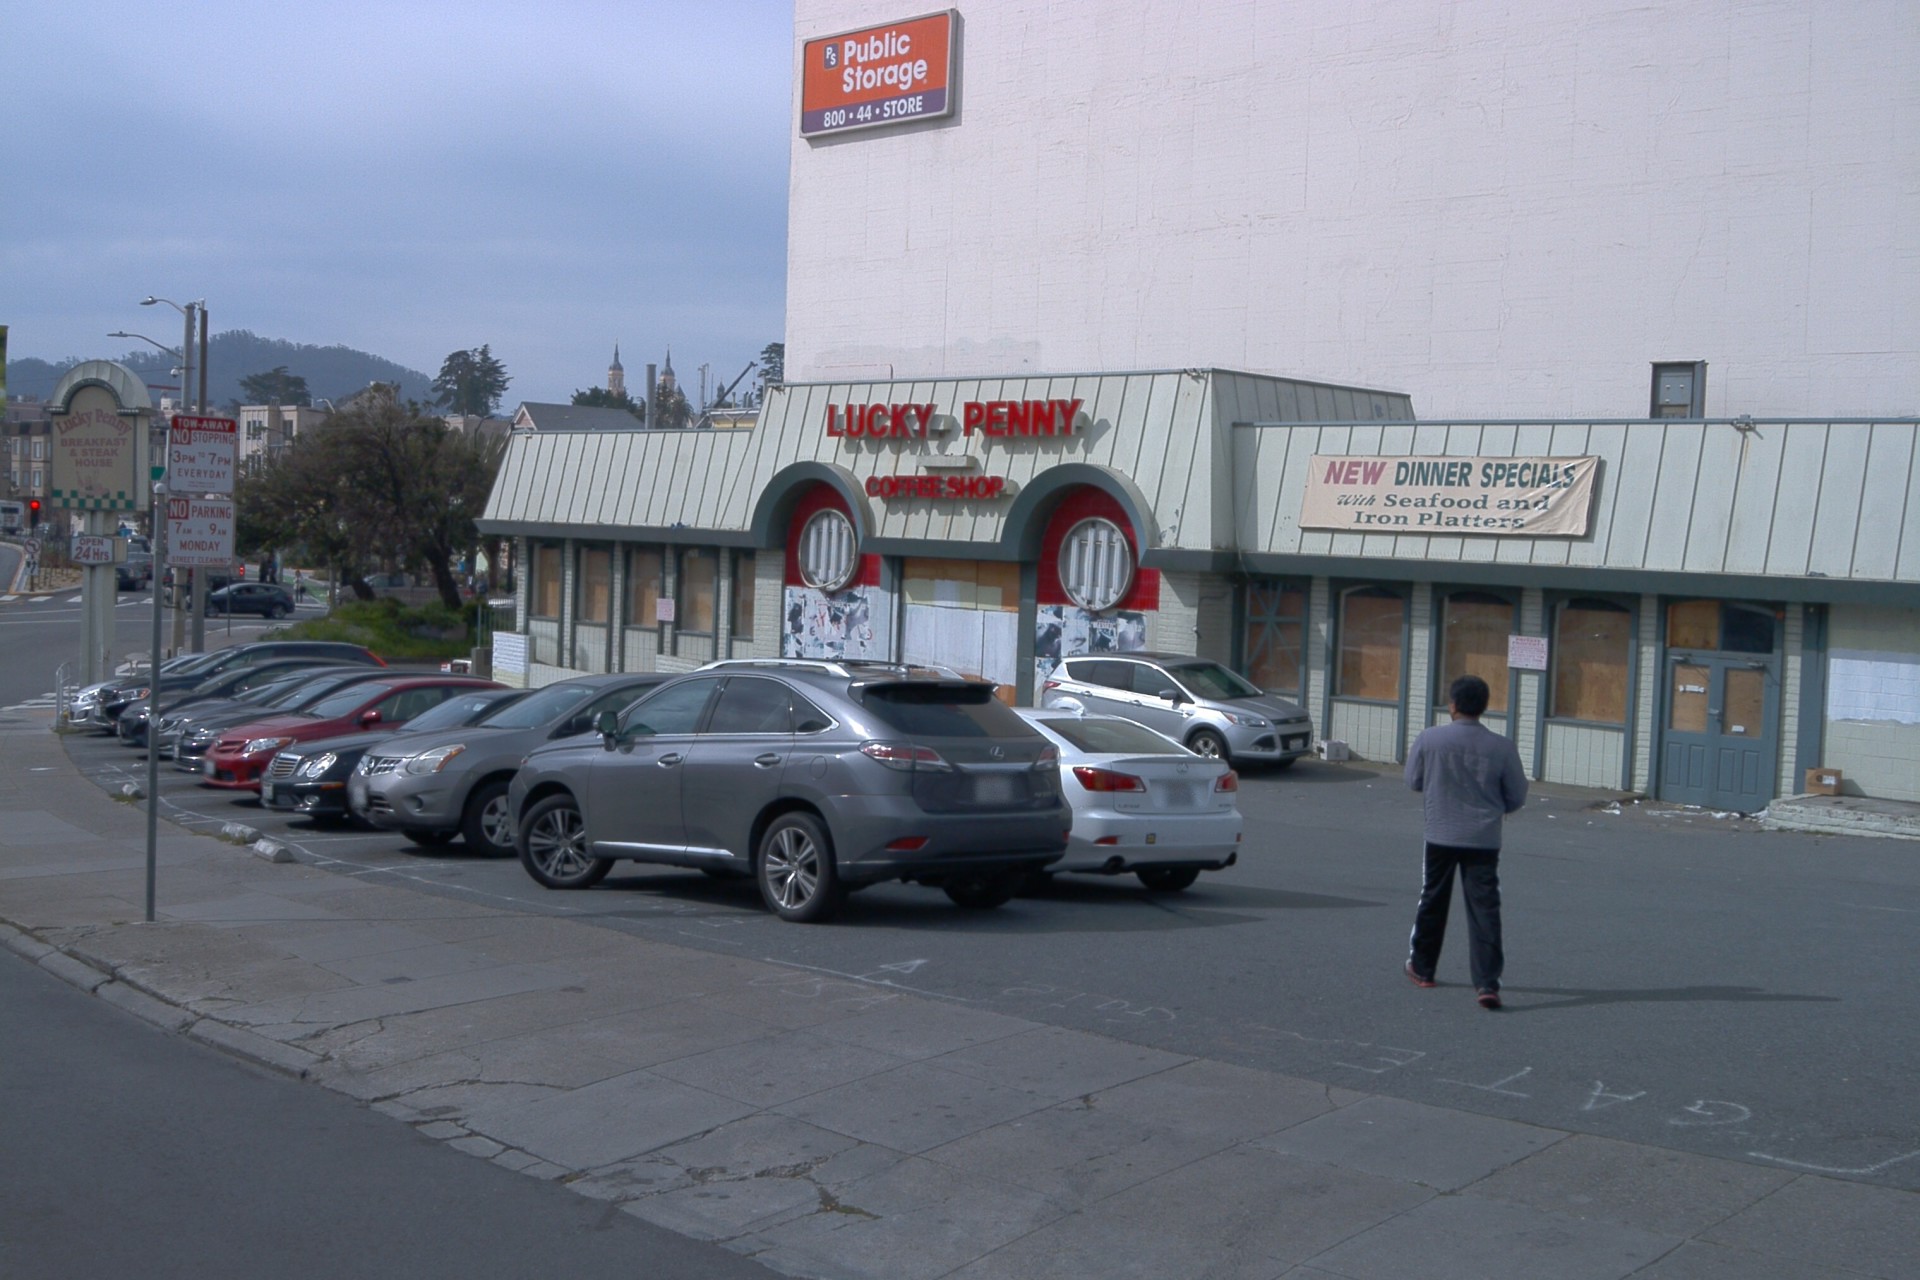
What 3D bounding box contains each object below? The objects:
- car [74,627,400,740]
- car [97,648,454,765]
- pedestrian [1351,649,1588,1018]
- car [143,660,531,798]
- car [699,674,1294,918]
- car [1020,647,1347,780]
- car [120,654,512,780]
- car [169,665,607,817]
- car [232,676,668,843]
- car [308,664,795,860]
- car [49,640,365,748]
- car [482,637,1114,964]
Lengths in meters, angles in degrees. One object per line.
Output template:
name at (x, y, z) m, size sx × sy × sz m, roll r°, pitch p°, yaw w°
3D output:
car at (-11.716, 0.661, 33.334) m, size 4.561 × 1.710 × 2.059 m, roll 0°, pitch 0°, yaw -43°
car at (-10.336, 0.949, 31.104) m, size 4.651 × 1.610 × 2.192 m, roll 0°, pitch 0°, yaw -43°
pedestrian at (2.542, 0.929, 10.341) m, size 0.943 × 1.744 × 1.076 m, roll 1°, pitch 0°, yaw 2°
car at (-7.972, 1.072, 26.410) m, size 4.343 × 1.580 × 1.994 m, roll 0°, pitch 0°, yaw -43°
car at (0.159, 1.128, 16.691) m, size 2.088 × 1.580 × 4.738 m, roll 0°, pitch 0°, yaw -44°
car at (3.289, 1.031, 30.718) m, size 2.134 × 1.790 × 4.557 m, roll 0°, pitch 0°, yaw -44°
car at (-8.982, 1.004, 28.781) m, size 4.736 × 1.590 × 2.241 m, roll 0°, pitch 0°, yaw -44°
car at (-6.657, 1.104, 24.116) m, size 4.484 × 1.550 × 2.134 m, roll 0°, pitch 0°, yaw -44°
car at (-5.264, 1.165, 21.427) m, size 4.029 × 1.500 × 1.869 m, roll 0°, pitch 0°, yaw -45°
car at (-3.714, 1.032, 19.045) m, size 1.975 × 1.570 × 4.019 m, roll 1°, pitch 0°, yaw 44°
car at (-13.134, 0.892, 35.855) m, size 4.757 × 1.740 × 2.072 m, roll 0°, pitch 0°, yaw -43°
car at (-1.292, 0.964, 14.599) m, size 2.065 × 1.920 × 4.493 m, roll 0°, pitch 0°, yaw -45°
